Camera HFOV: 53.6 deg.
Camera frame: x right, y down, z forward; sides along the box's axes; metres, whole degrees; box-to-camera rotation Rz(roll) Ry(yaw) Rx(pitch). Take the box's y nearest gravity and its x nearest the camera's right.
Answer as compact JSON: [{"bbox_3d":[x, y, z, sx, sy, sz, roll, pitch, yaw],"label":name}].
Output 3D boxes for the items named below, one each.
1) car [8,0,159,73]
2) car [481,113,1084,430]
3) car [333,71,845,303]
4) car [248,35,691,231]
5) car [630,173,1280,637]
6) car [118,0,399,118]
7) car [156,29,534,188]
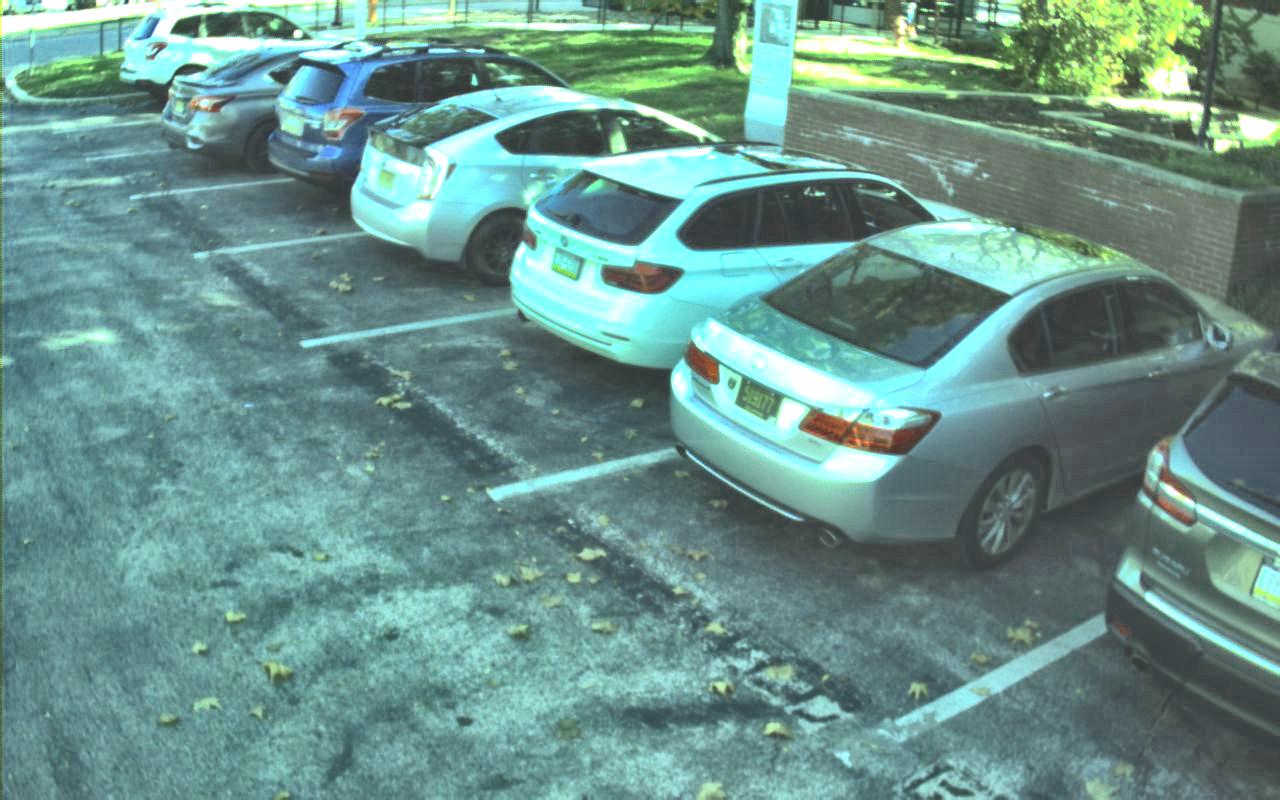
[{"bbox_3d":[-16.256,-10.462,32.254,4.528,1.590,1.933,-12,19,-31],"label":"car"},{"bbox_3d":[1.249,-1.200,9.239,4.393,1.572,1.929,-13,20,-34],"label":"car"},{"bbox_3d":[-0.378,-2.101,11.292,4.362,1.566,1.903,-12,20,-33],"label":"car"},{"bbox_3d":[-1.812,-3.024,13.293,4.462,1.679,1.951,-13,20,-35],"label":"car"},{"bbox_3d":[2.346,-0.330,7.074,4.498,1.531,1.919,-12,20,-33],"label":"car"},{"bbox_3d":[-6.555,-5.848,20.022,4.593,1.672,1.965,-13,20,-35],"label":"car"},{"bbox_3d":[-3.738,-3.749,15.183,4.486,1.547,1.929,-13,20,-35],"label":"car"}]
